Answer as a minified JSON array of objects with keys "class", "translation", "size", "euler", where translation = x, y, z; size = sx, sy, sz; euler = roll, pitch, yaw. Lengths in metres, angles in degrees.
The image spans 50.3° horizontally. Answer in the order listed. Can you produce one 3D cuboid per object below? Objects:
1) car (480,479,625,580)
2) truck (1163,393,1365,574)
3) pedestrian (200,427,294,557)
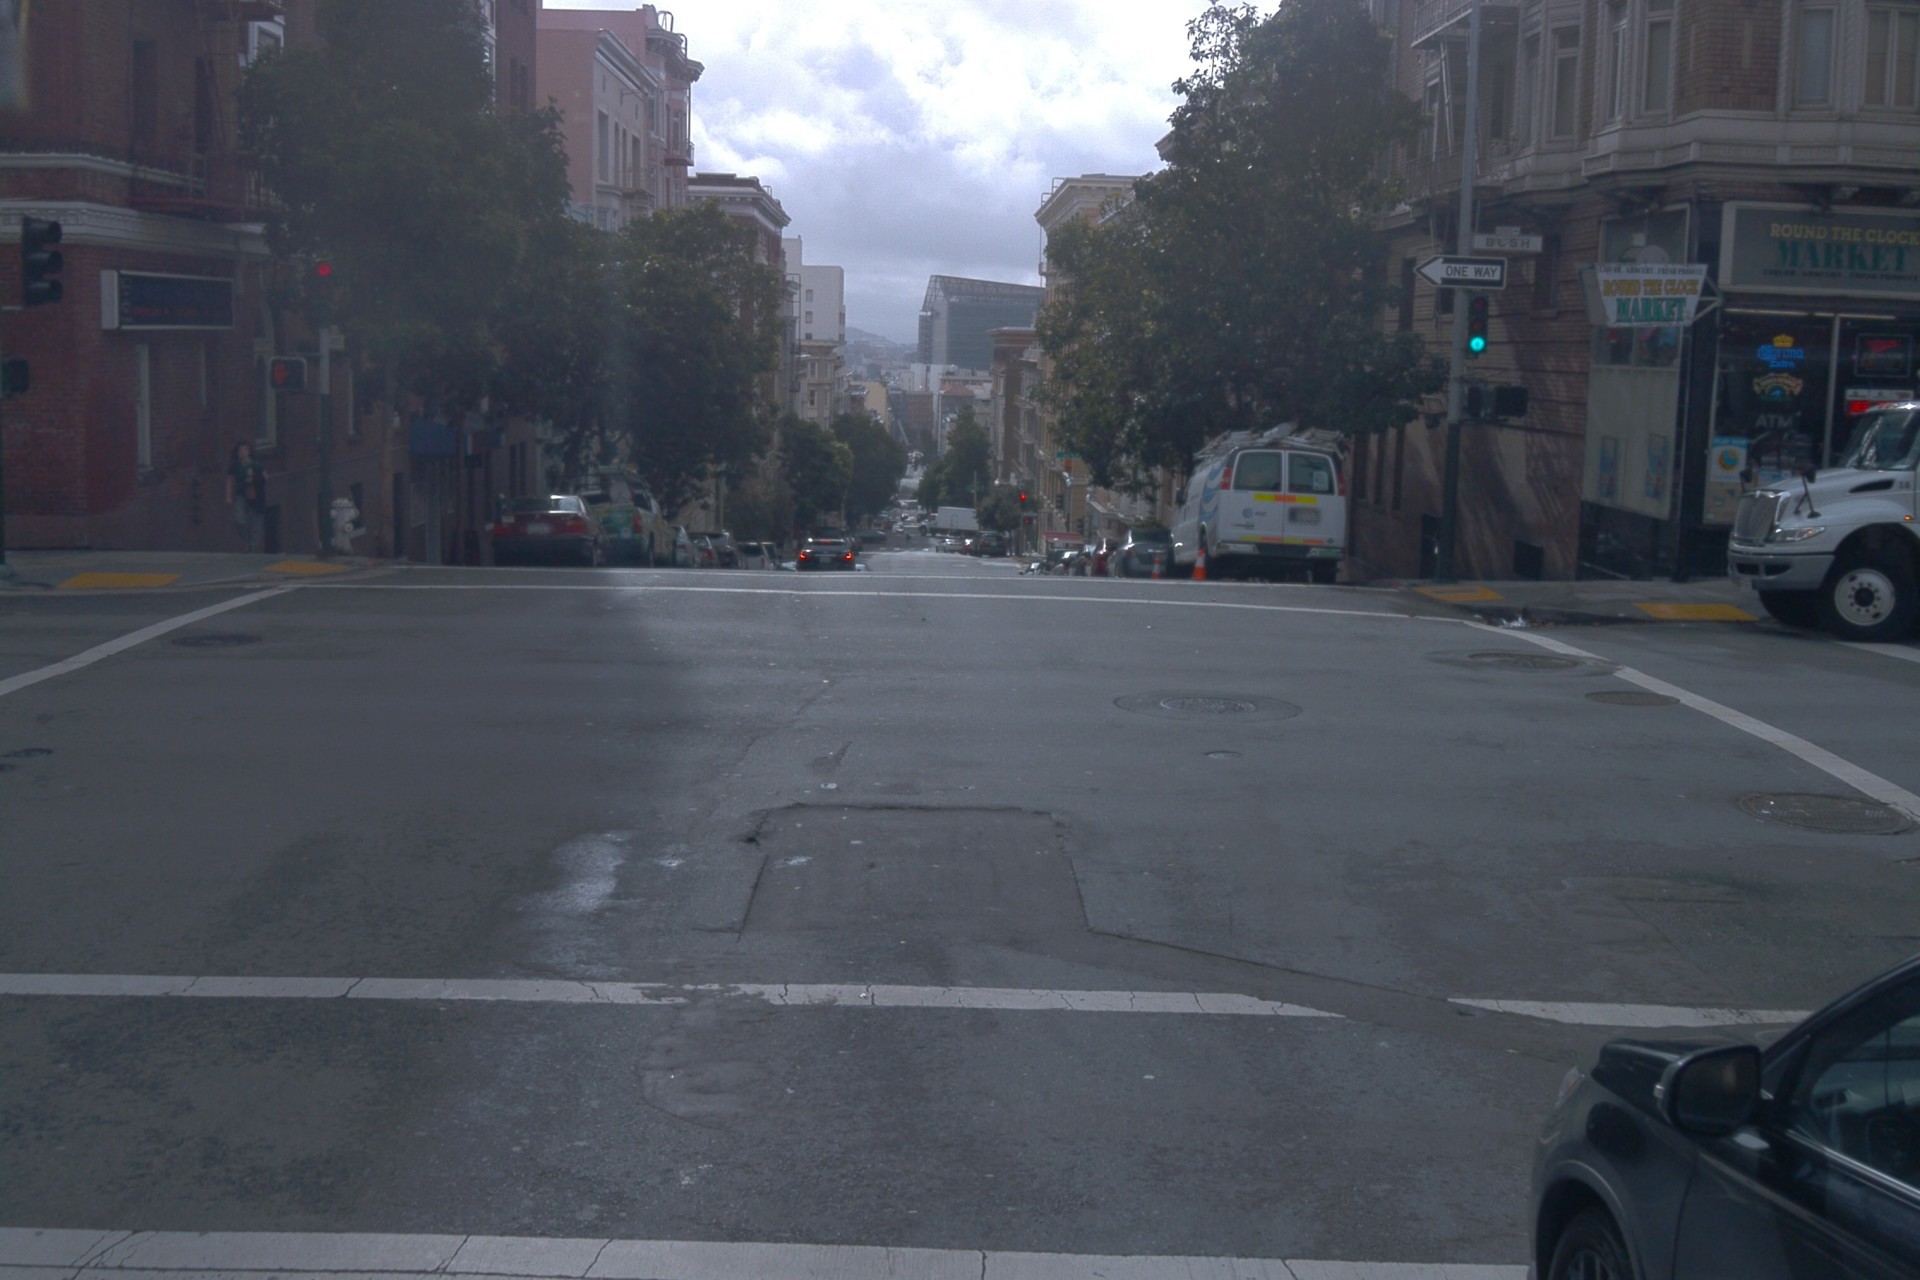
[{"class":"car","translation":[-6.888,-1.843,34.930],"size":[1.759,1.530,4.100],"euler":[1,1,-2]},{"class":"truck","translation":[4.606,-2.321,31.783],"size":[2.117,2.450,5.100],"euler":[1,1,-3]},{"class":"pedestrian","translation":[-9.897,-2.039,28.419],"size":[0.930,1.717,1.087],"euler":[1,1,-2]}]
